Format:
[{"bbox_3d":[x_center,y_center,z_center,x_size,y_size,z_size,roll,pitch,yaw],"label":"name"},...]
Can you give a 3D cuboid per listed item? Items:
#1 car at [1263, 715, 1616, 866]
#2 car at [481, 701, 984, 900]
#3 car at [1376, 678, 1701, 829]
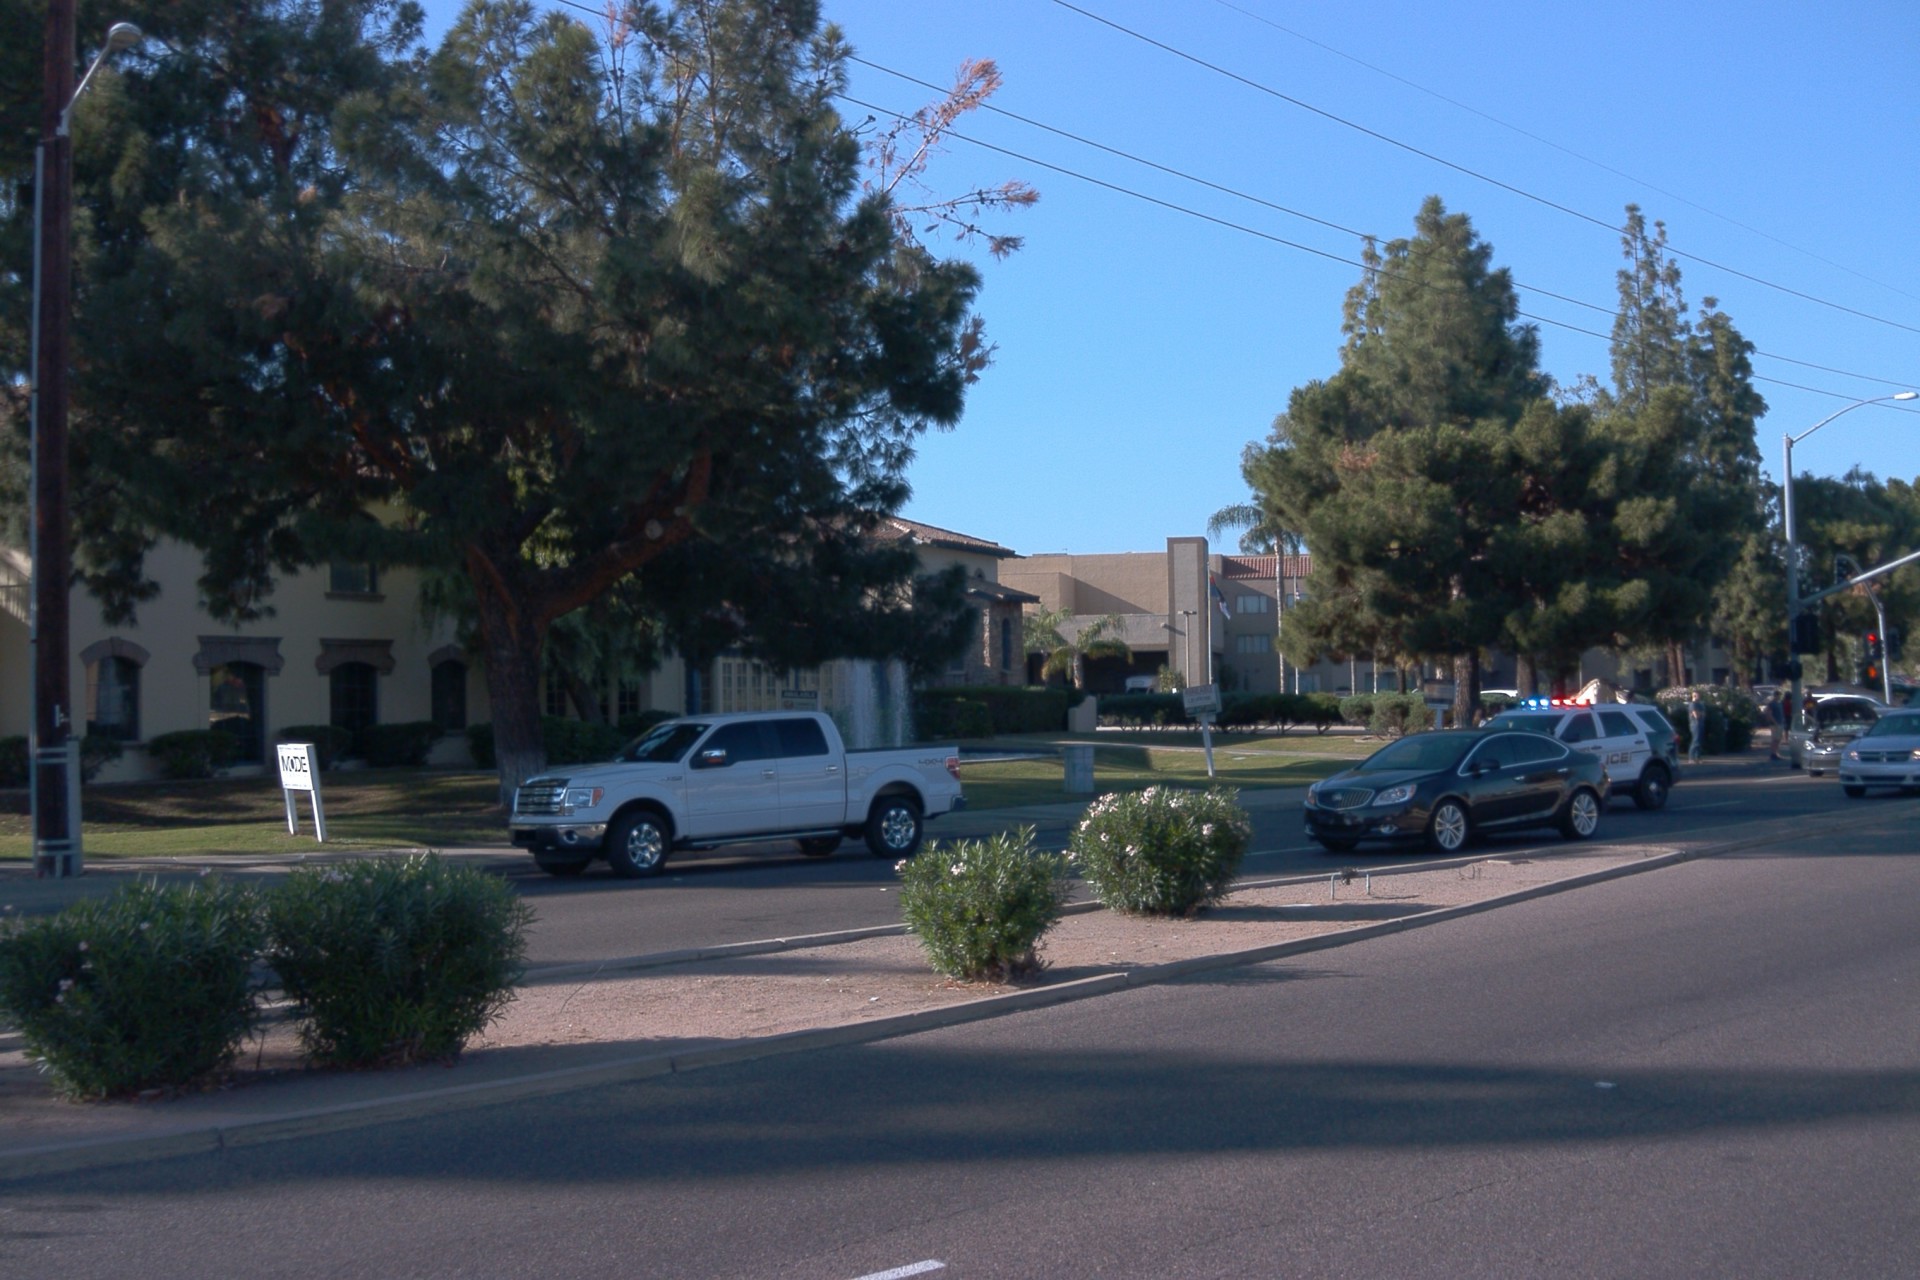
[{"bbox_3d":[5.983,1.778,25.788,4.586,1.580,1.827,1,0,-40],"label":"car"},{"bbox_3d":[-2.733,1.883,26.208,5.958,2.110,2.306,1,0,-39],"label":"car"},{"bbox_3d":[9.309,1.728,33.426,5.294,2.180,2.186,1,0,-36],"label":"car"}]
